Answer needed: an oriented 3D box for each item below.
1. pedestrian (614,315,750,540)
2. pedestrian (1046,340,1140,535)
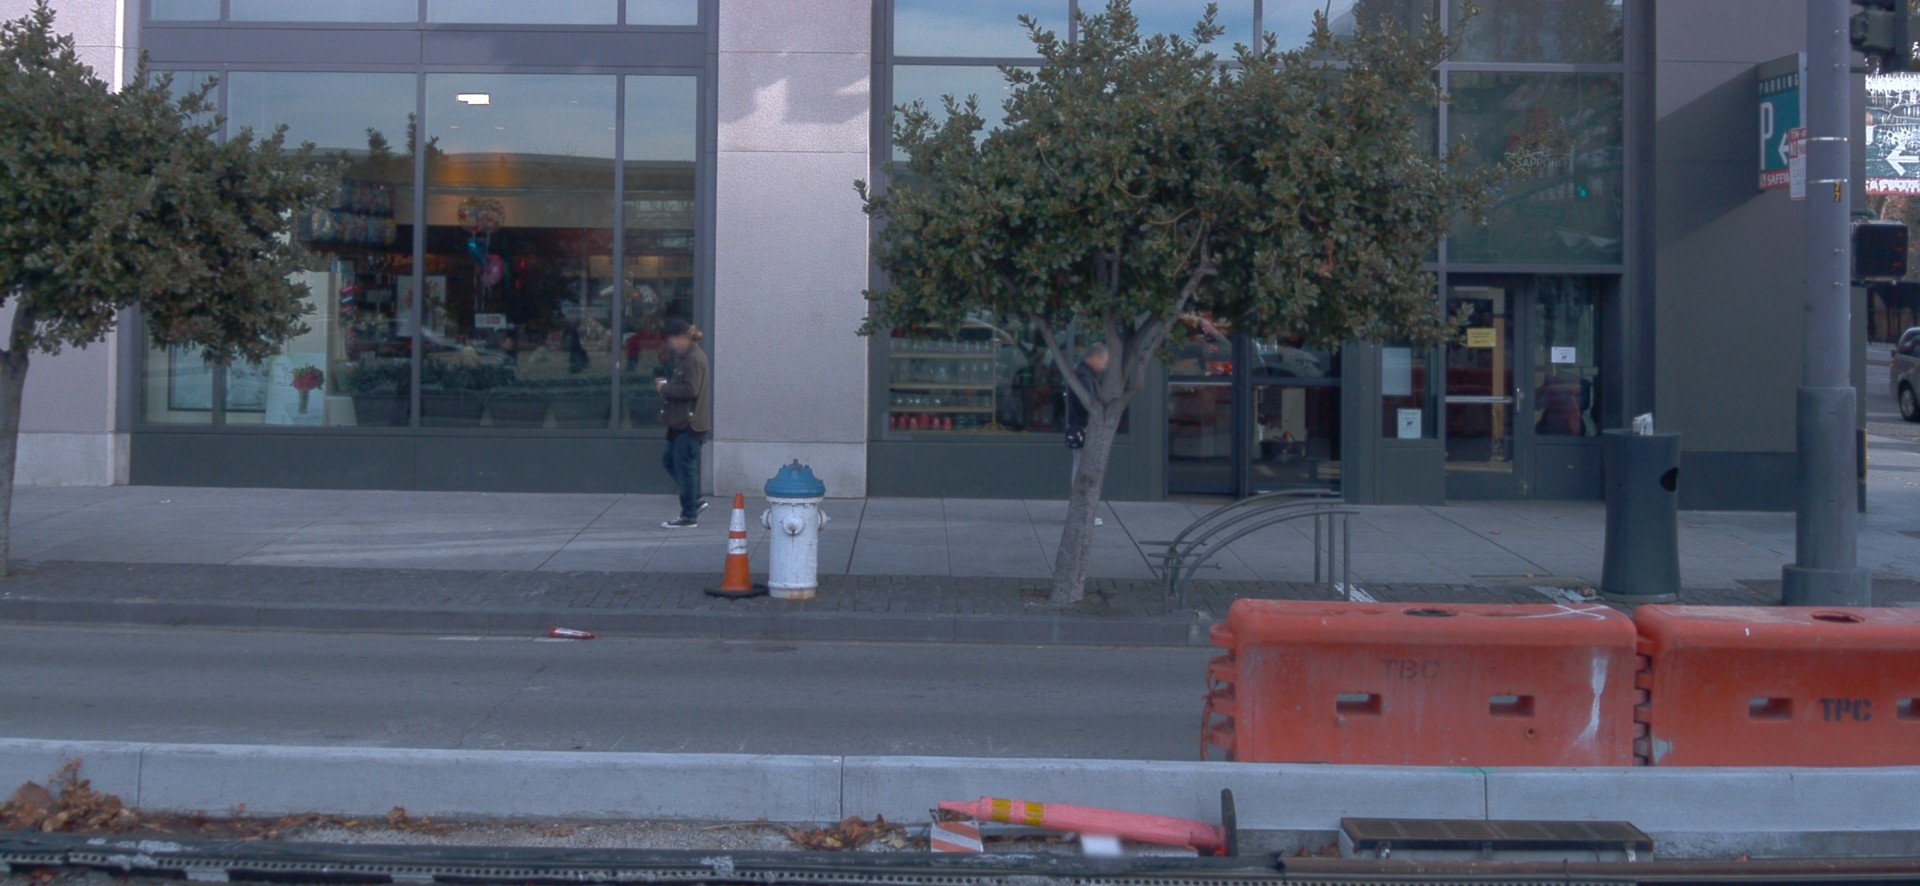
[{"bbox_3d":[-2.347,-0.159,17.596,1.000,1.815,0.864,1,1,0],"label":"pedestrian"},{"bbox_3d":[1.157,-0.063,18.170,0.683,1.627,0.774,1,1,-4],"label":"pedestrian"}]
